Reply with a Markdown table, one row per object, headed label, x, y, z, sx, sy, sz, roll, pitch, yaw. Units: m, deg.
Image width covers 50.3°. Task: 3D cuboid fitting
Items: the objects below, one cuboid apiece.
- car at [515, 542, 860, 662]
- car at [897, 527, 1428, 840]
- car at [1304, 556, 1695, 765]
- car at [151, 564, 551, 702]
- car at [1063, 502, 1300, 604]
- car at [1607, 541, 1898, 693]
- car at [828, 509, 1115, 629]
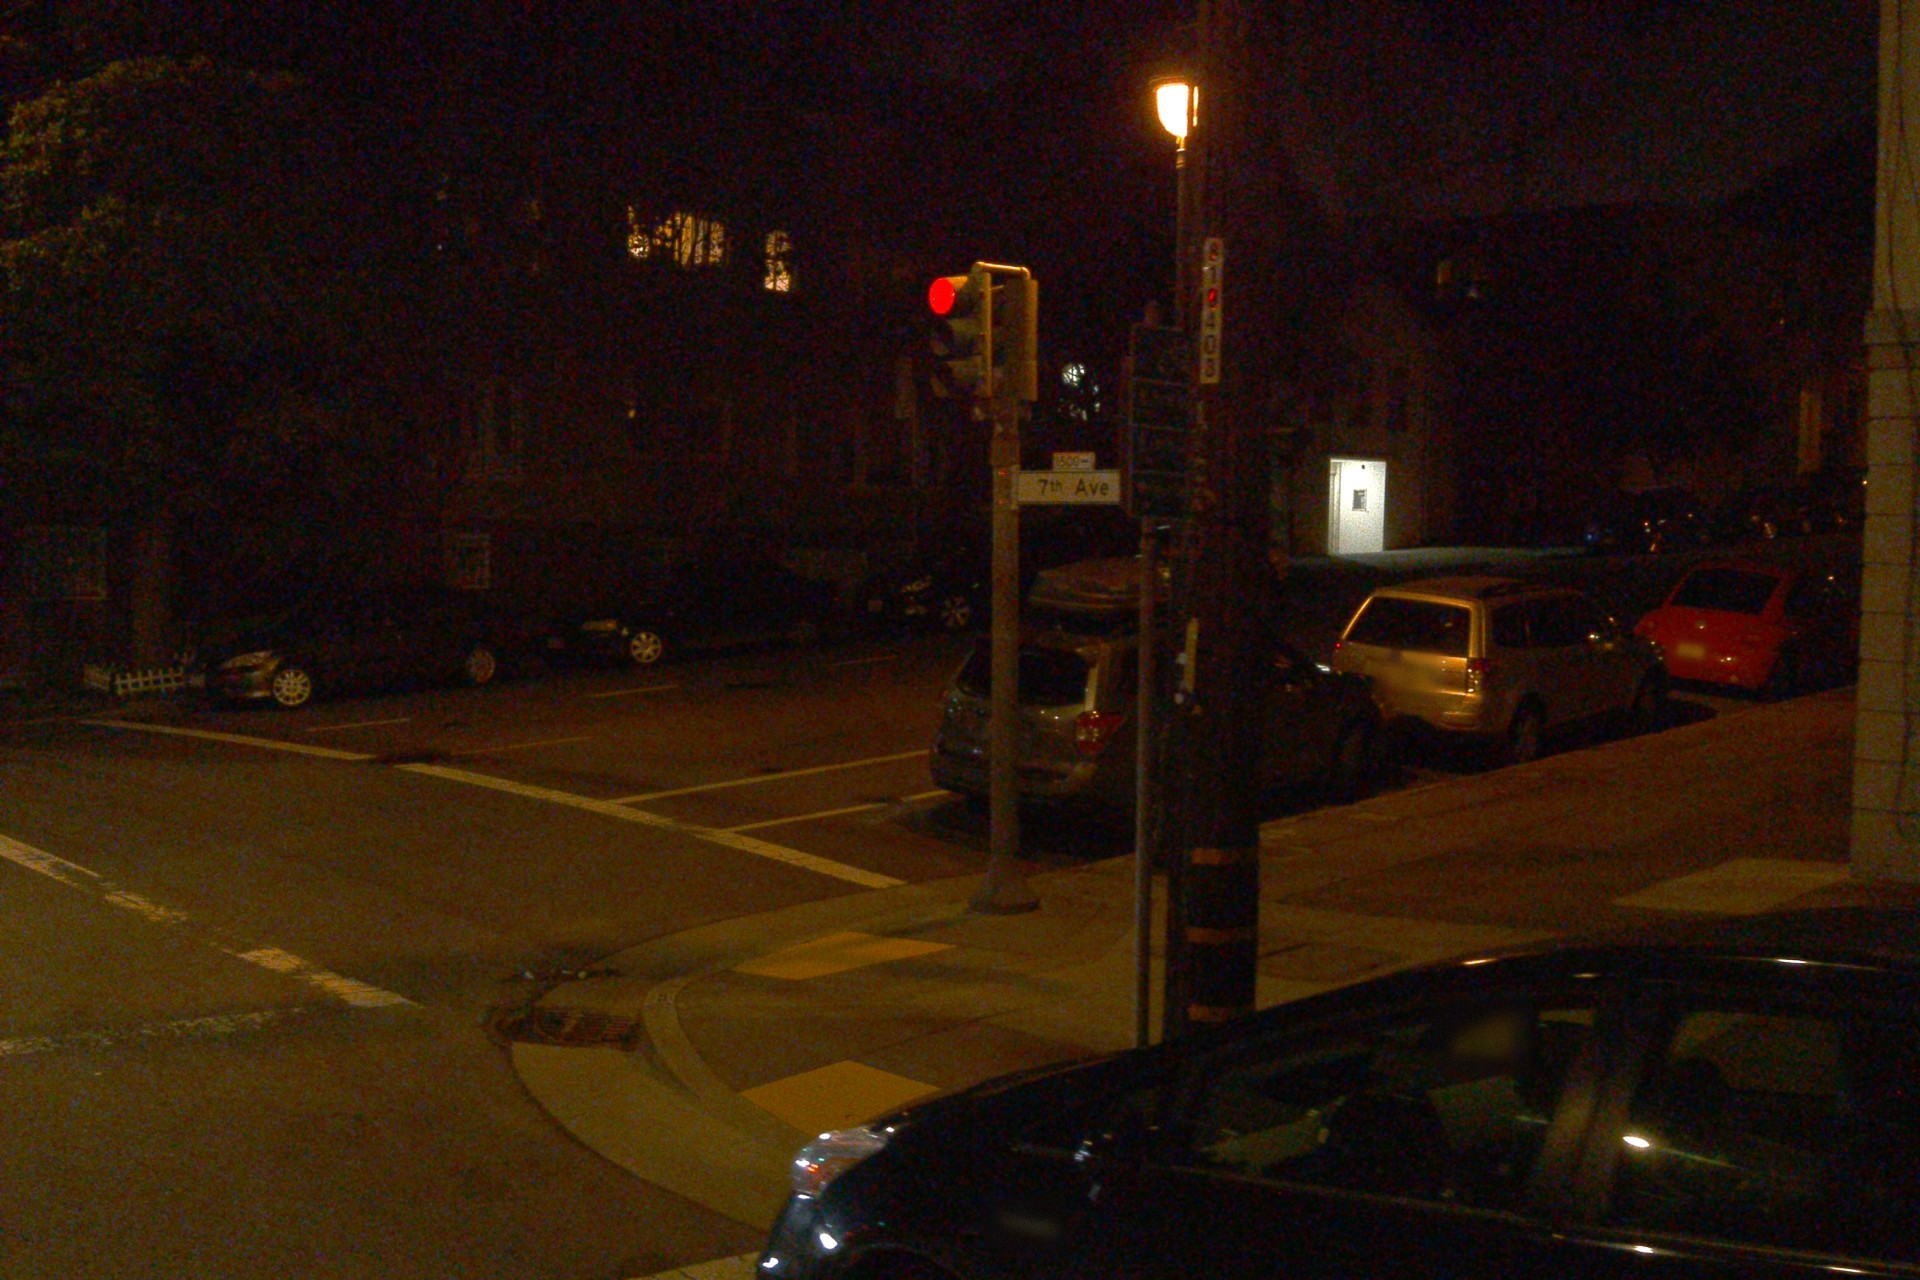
| label | x | y | z | sx | sy | sz | roll | pitch | yaw |
| --- | --- | --- | --- | --- | --- | --- | --- | --- | --- |
| car | -3.889 | -0.511 | 29.731 | 4.646 | 1.610 | 2.000 | 0 | 0 | -43 |
| car | 1.771 | 0.304 | 16.670 | 1.882 | 2.200 | 4.520 | 1 | 0 | 44 |
| car | 5.343 | 0.177 | 19.929 | 1.845 | 1.810 | 4.298 | 1 | 0 | 43 |
| car | -7.636 | -0.083 | 25.971 | 2.012 | 1.590 | 4.471 | 1 | 0 | 41 |
| car | 4.075 | -1.515 | 37.126 | 1.761 | 1.660 | 4.654 | 1 | 0 | 44 |
| car | 9.417 | -0.251 | 24.178 | 1.862 | 1.640 | 3.906 | 1 | 0 | 43 |
| car | 0.257 | -1.100 | 33.498 | 4.629 | 1.790 | 2.012 | 0 | 0 | -45 |
